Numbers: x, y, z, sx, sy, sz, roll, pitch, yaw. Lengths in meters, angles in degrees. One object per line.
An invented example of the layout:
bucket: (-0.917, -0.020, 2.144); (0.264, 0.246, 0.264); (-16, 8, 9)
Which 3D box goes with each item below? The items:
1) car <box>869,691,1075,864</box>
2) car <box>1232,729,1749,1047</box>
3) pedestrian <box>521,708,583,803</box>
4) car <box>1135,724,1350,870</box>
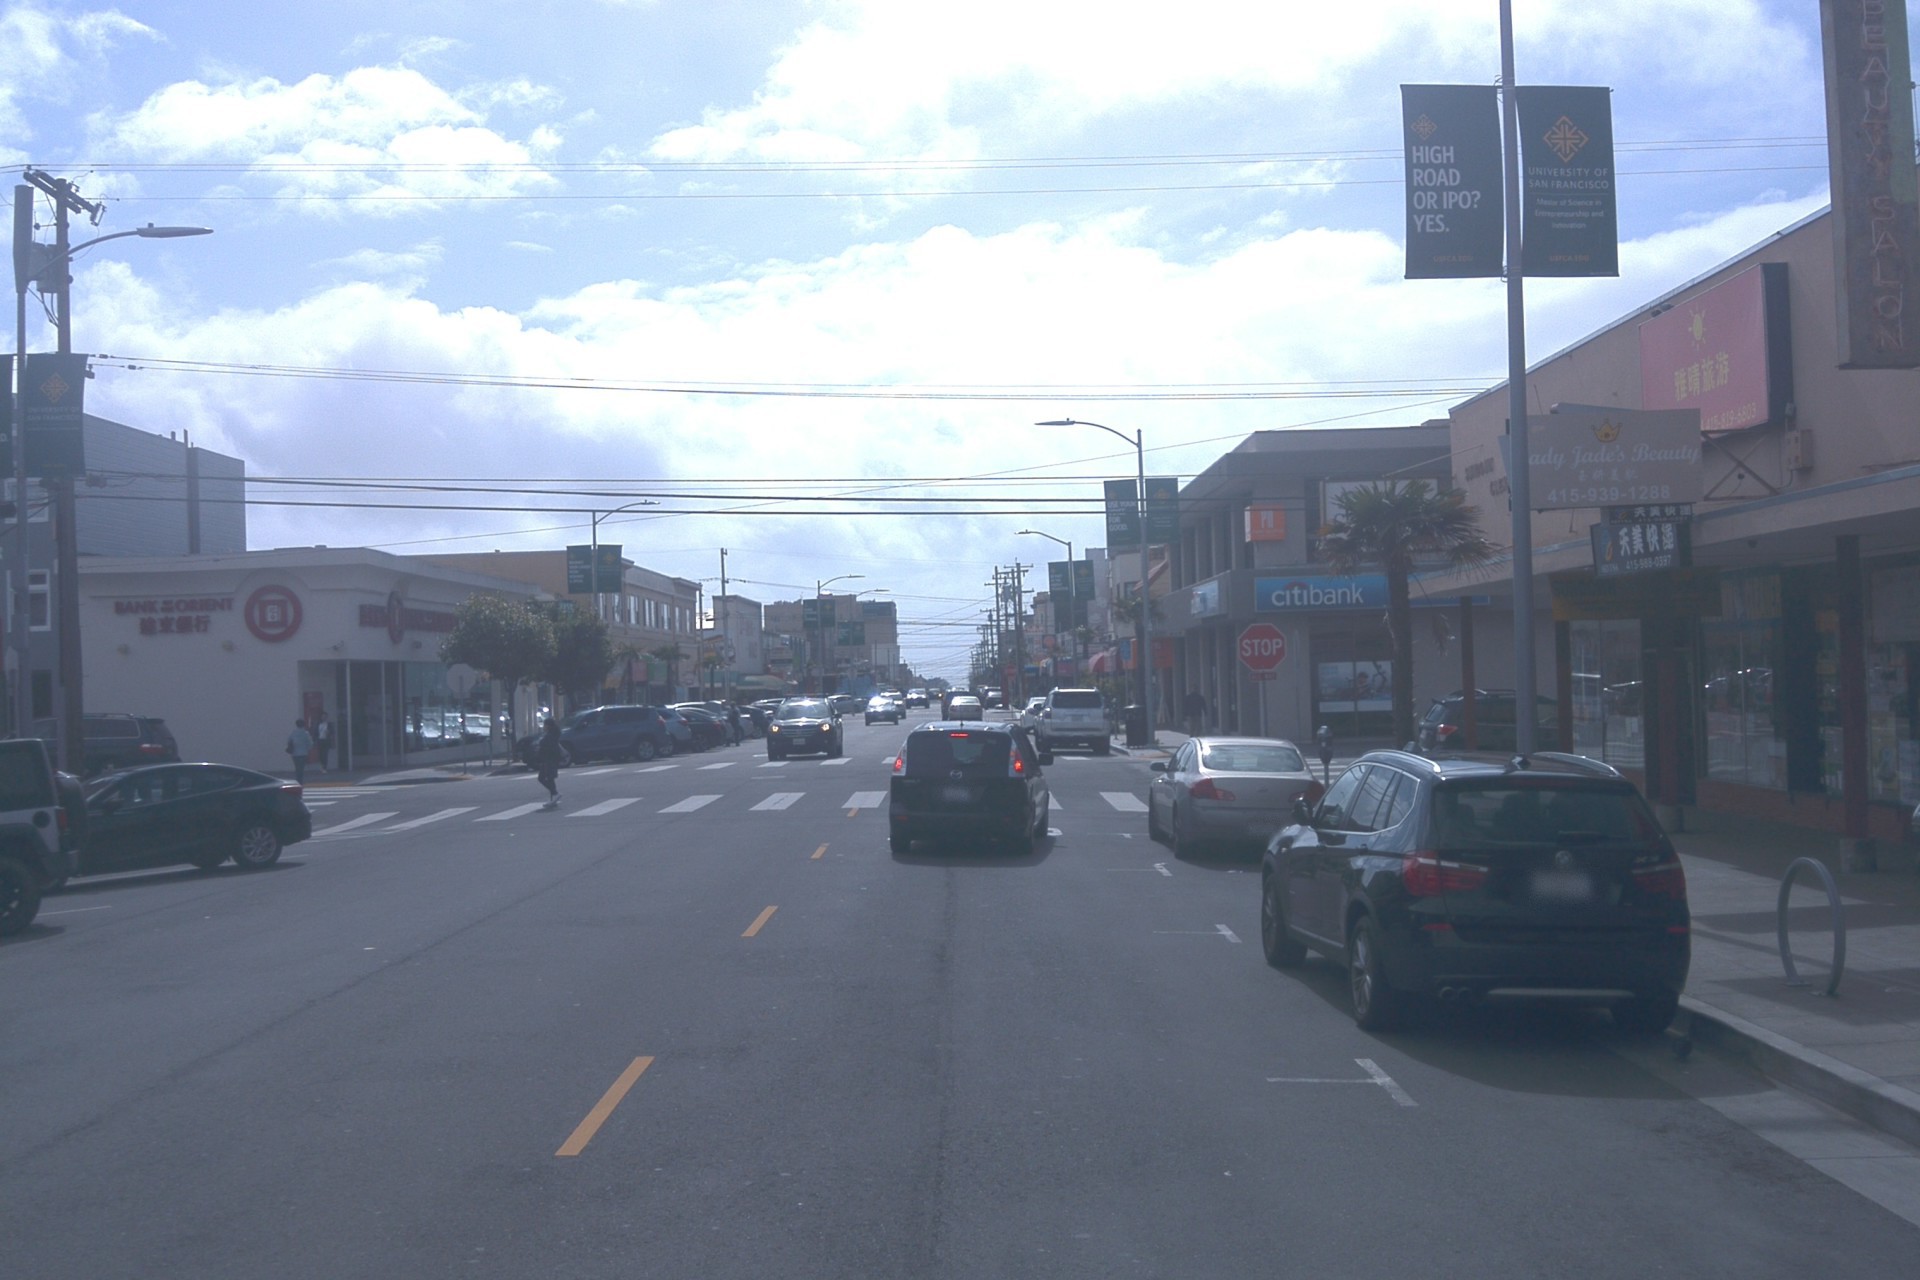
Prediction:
car: (0.257, 1.662, 26.561); (2.096, 1.972, 4.572); (0, -1, 7)
car: (3.269, 1.477, 13.906); (2.061, 1.620, 4.747); (0, -1, -3)
pedestrian: (-7.328, 2.066, 37.298); (0.935, 1.653, 0.998); (0, -1, -1)
car: (3.418, 1.880, 25.968); (1.988, 1.532, 4.724); (0, -1, -1)
